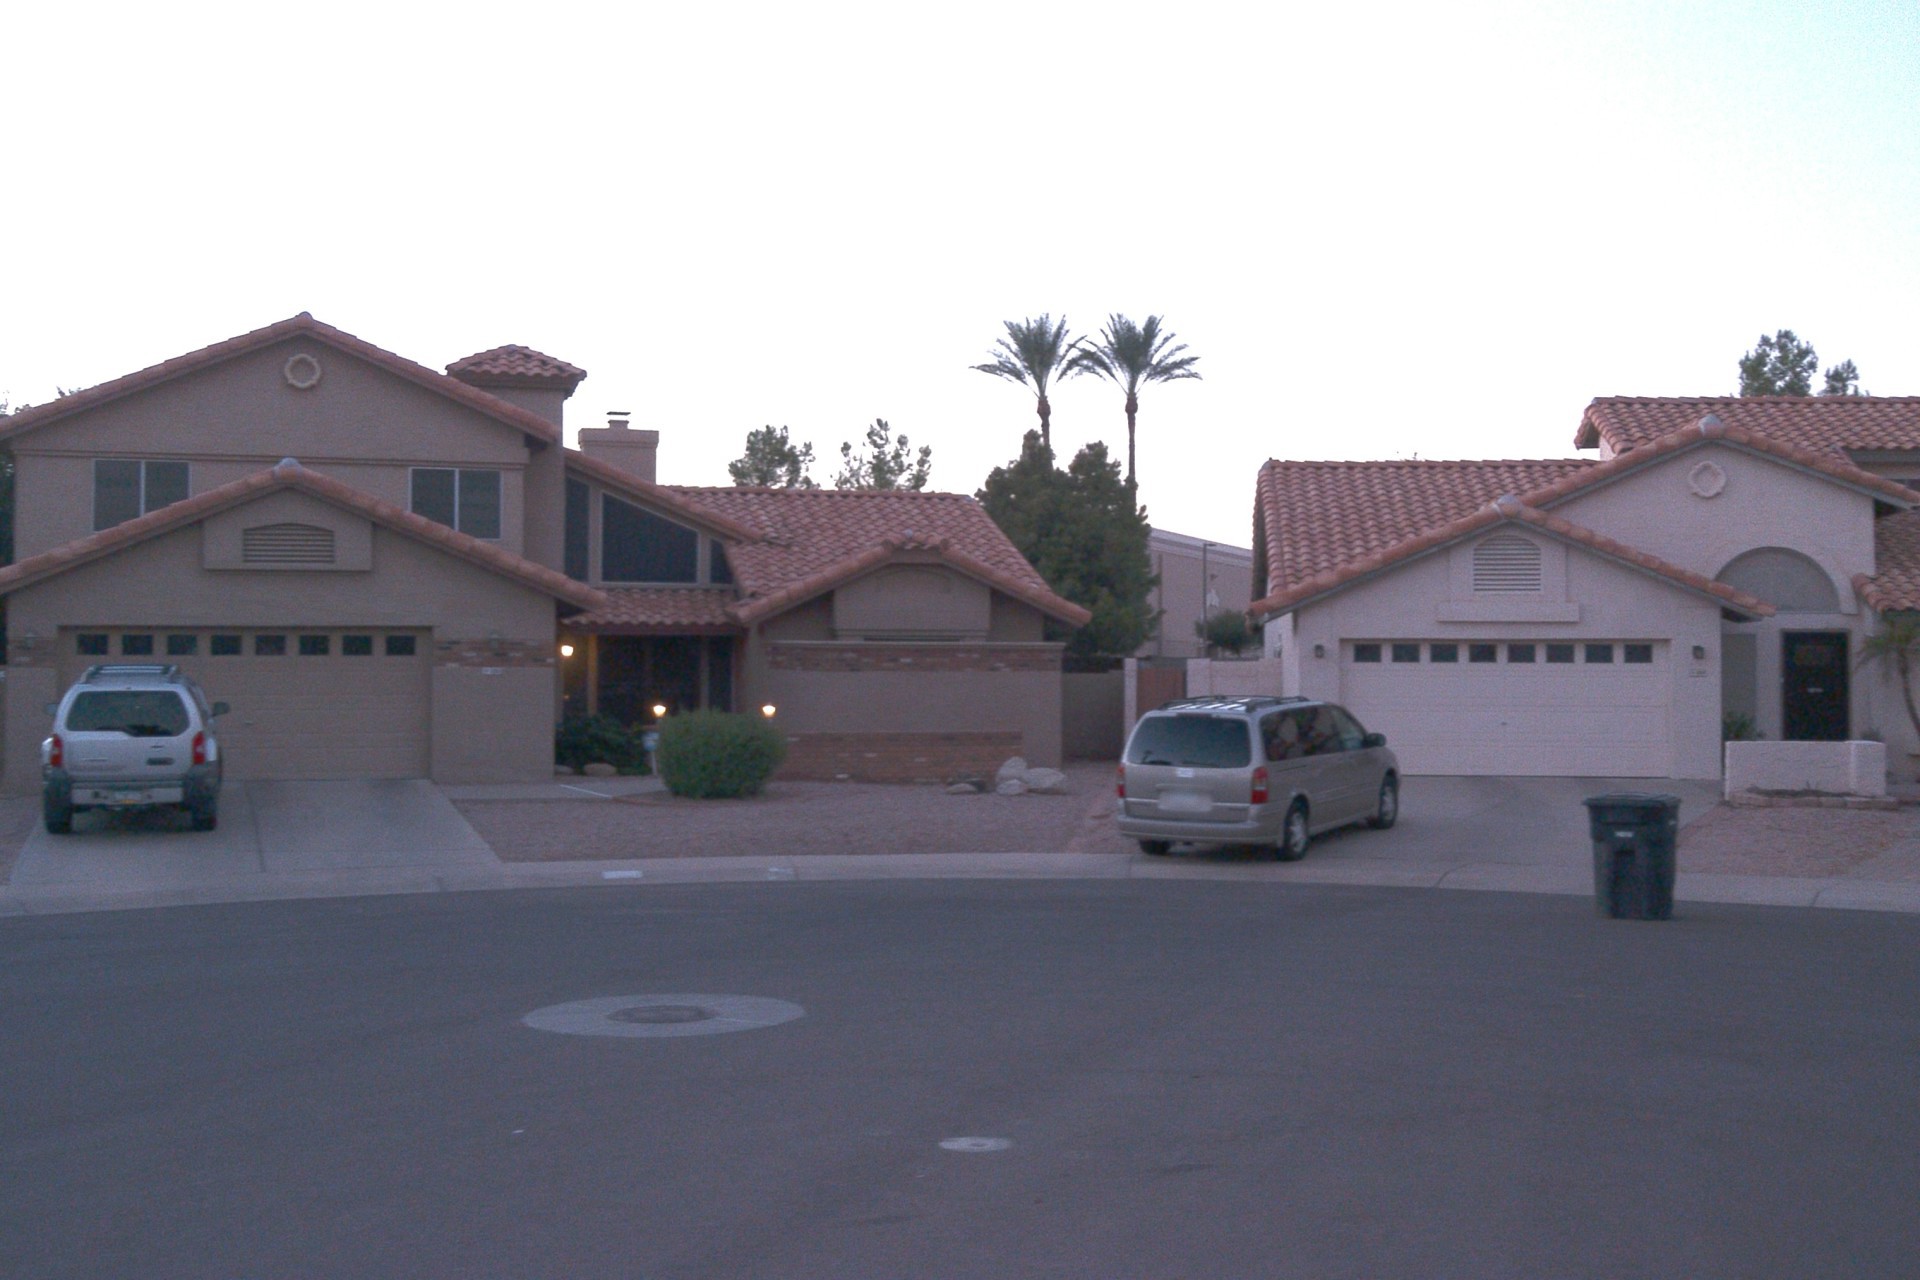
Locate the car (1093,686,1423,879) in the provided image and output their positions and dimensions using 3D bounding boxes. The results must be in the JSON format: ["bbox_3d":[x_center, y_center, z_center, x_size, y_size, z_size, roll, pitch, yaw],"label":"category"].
[{"bbox_3d":[3.620,1.539,24.261,2.068,1.940,5.037,1,-1,30],"label":"car"}]

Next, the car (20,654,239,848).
[{"bbox_3d":[-9.839,1.229,24.913,2.121,2.070,4.652,1,-1,-18],"label":"car"}]
